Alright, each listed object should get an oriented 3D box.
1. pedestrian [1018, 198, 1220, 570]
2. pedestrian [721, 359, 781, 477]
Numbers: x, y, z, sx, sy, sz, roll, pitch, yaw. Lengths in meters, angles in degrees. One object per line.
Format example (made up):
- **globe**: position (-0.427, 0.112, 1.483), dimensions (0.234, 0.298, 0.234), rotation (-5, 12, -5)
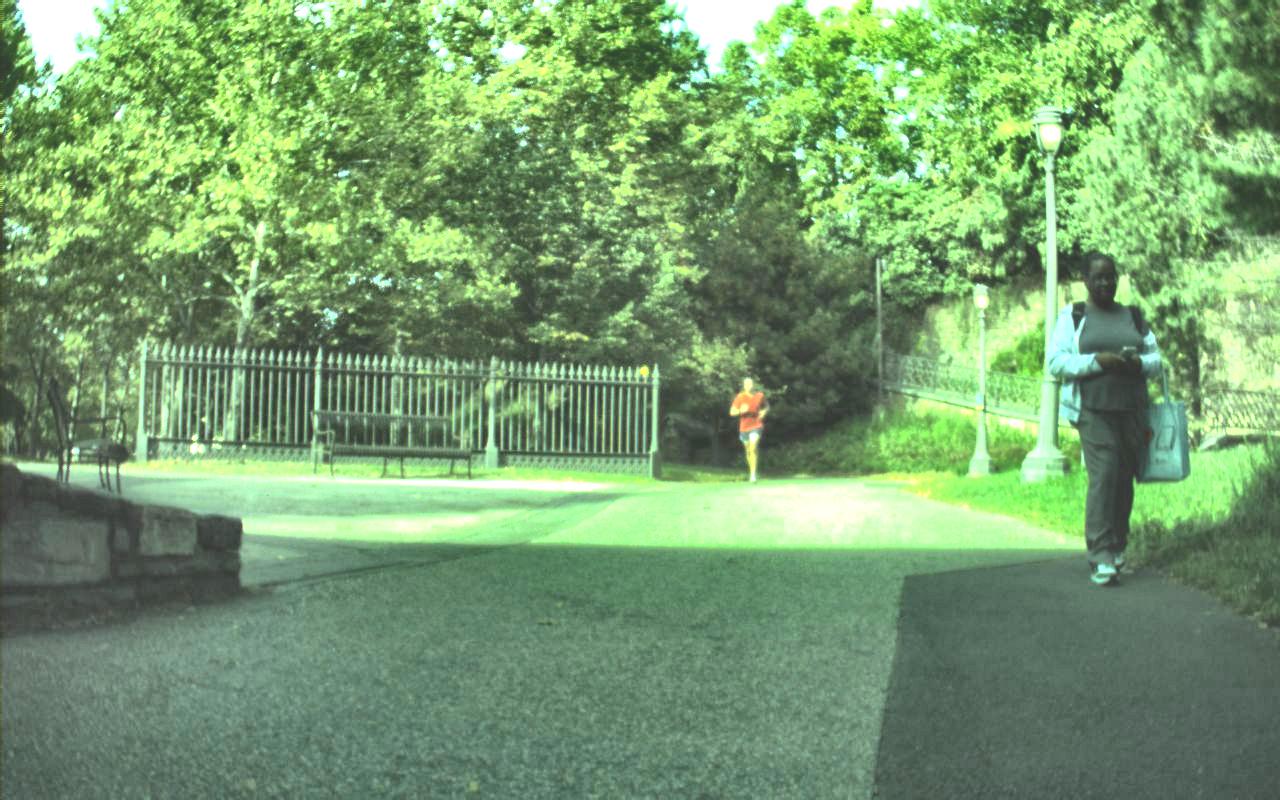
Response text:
- **pedestrian**: position (2.377, -0.071, 5.907), dimensions (0.827, 1.710, 0.843), rotation (0, 0, 3)
- **pedestrian**: position (1.883, 0.286, 21.333), dimensions (0.828, 1.941, 0.961), rotation (0, 0, 17)
